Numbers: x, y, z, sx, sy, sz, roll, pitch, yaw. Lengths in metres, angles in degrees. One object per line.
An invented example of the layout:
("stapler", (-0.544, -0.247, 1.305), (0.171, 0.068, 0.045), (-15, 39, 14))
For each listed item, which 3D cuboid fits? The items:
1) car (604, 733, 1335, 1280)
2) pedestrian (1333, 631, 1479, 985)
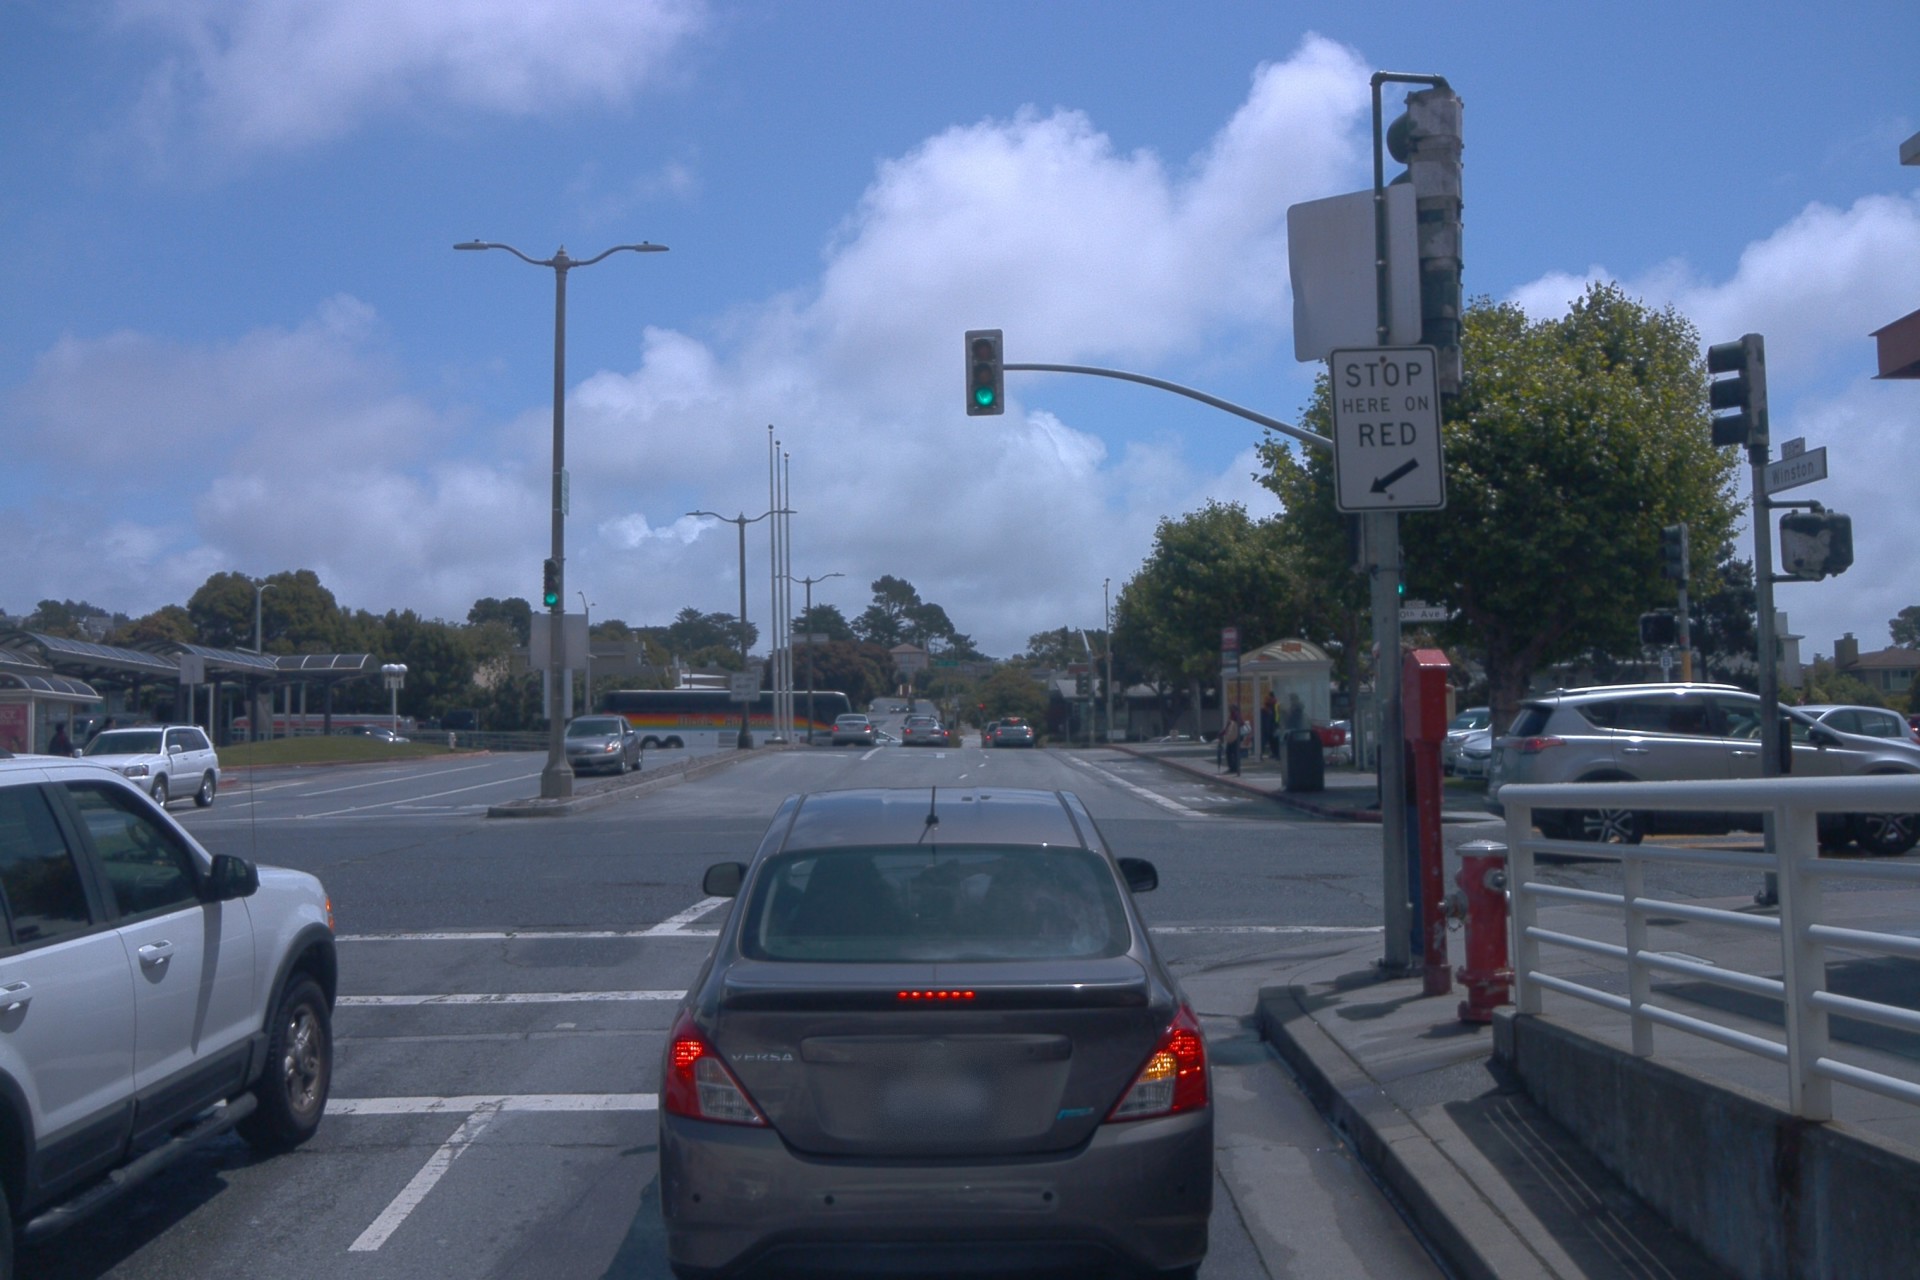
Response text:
("car", (-0.069, 1.260, 7.573), (1.939, 1.580, 4.232), (0, 1, -3))
("pedestrian", (2.490, 0.907, 11.546), (0.594, 1.910, 0.830), (0, 1, -4))
